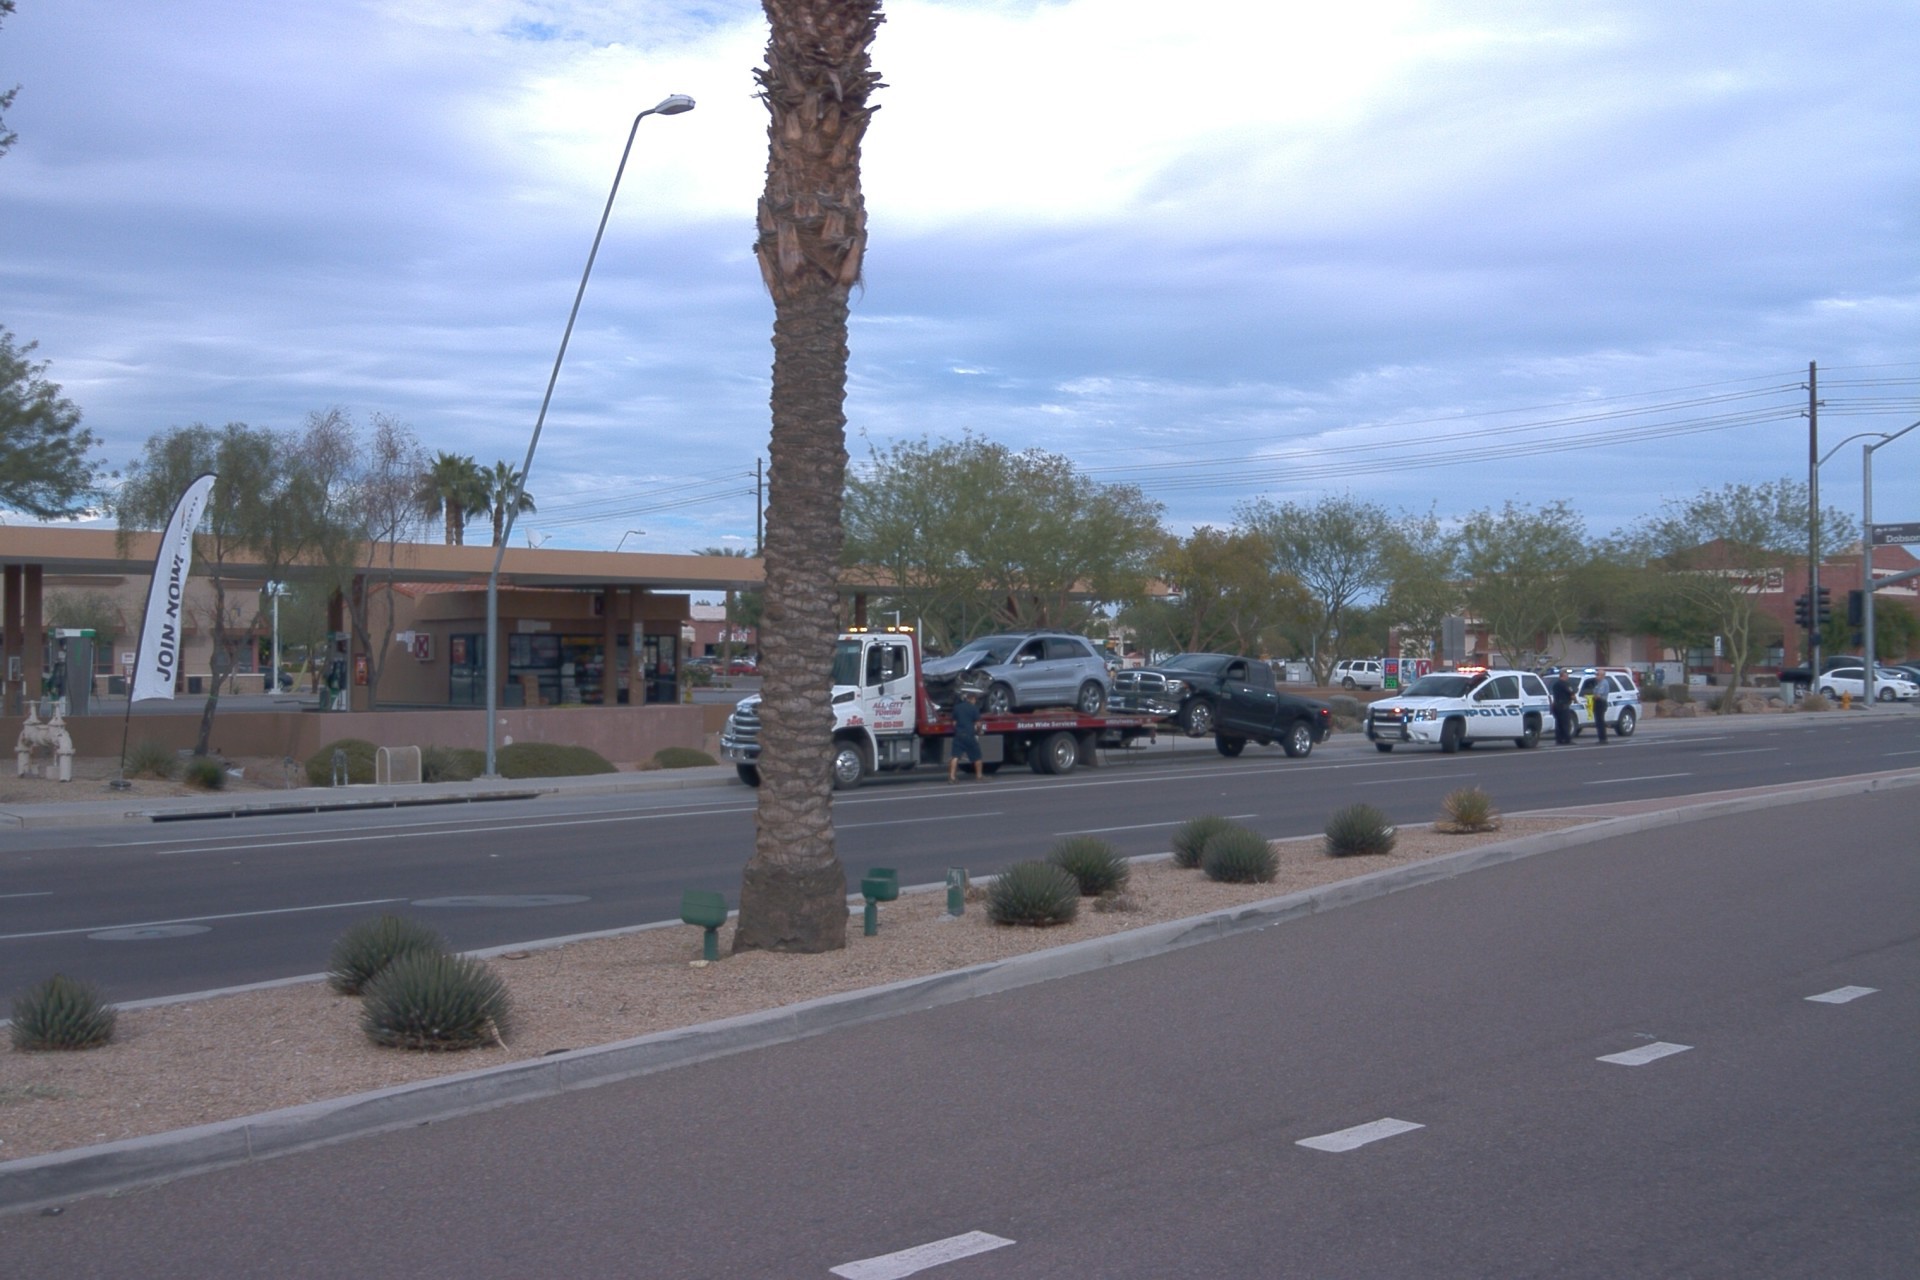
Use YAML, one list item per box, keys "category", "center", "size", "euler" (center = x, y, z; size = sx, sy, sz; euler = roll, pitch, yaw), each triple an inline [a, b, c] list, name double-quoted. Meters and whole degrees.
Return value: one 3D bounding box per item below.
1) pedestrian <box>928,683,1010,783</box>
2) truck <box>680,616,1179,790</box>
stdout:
- category: "pedestrian"
  center: [0.151, 1.582, 35.602]
  size: [0.927, 1.650, 1.015]
  euler: [1, 0, 42]
- category: "truck"
  center: [-0.262, 1.036, 37.671]
  size: [3.244, 2.750, 9.630]
  euler: [1, 0, 43]
